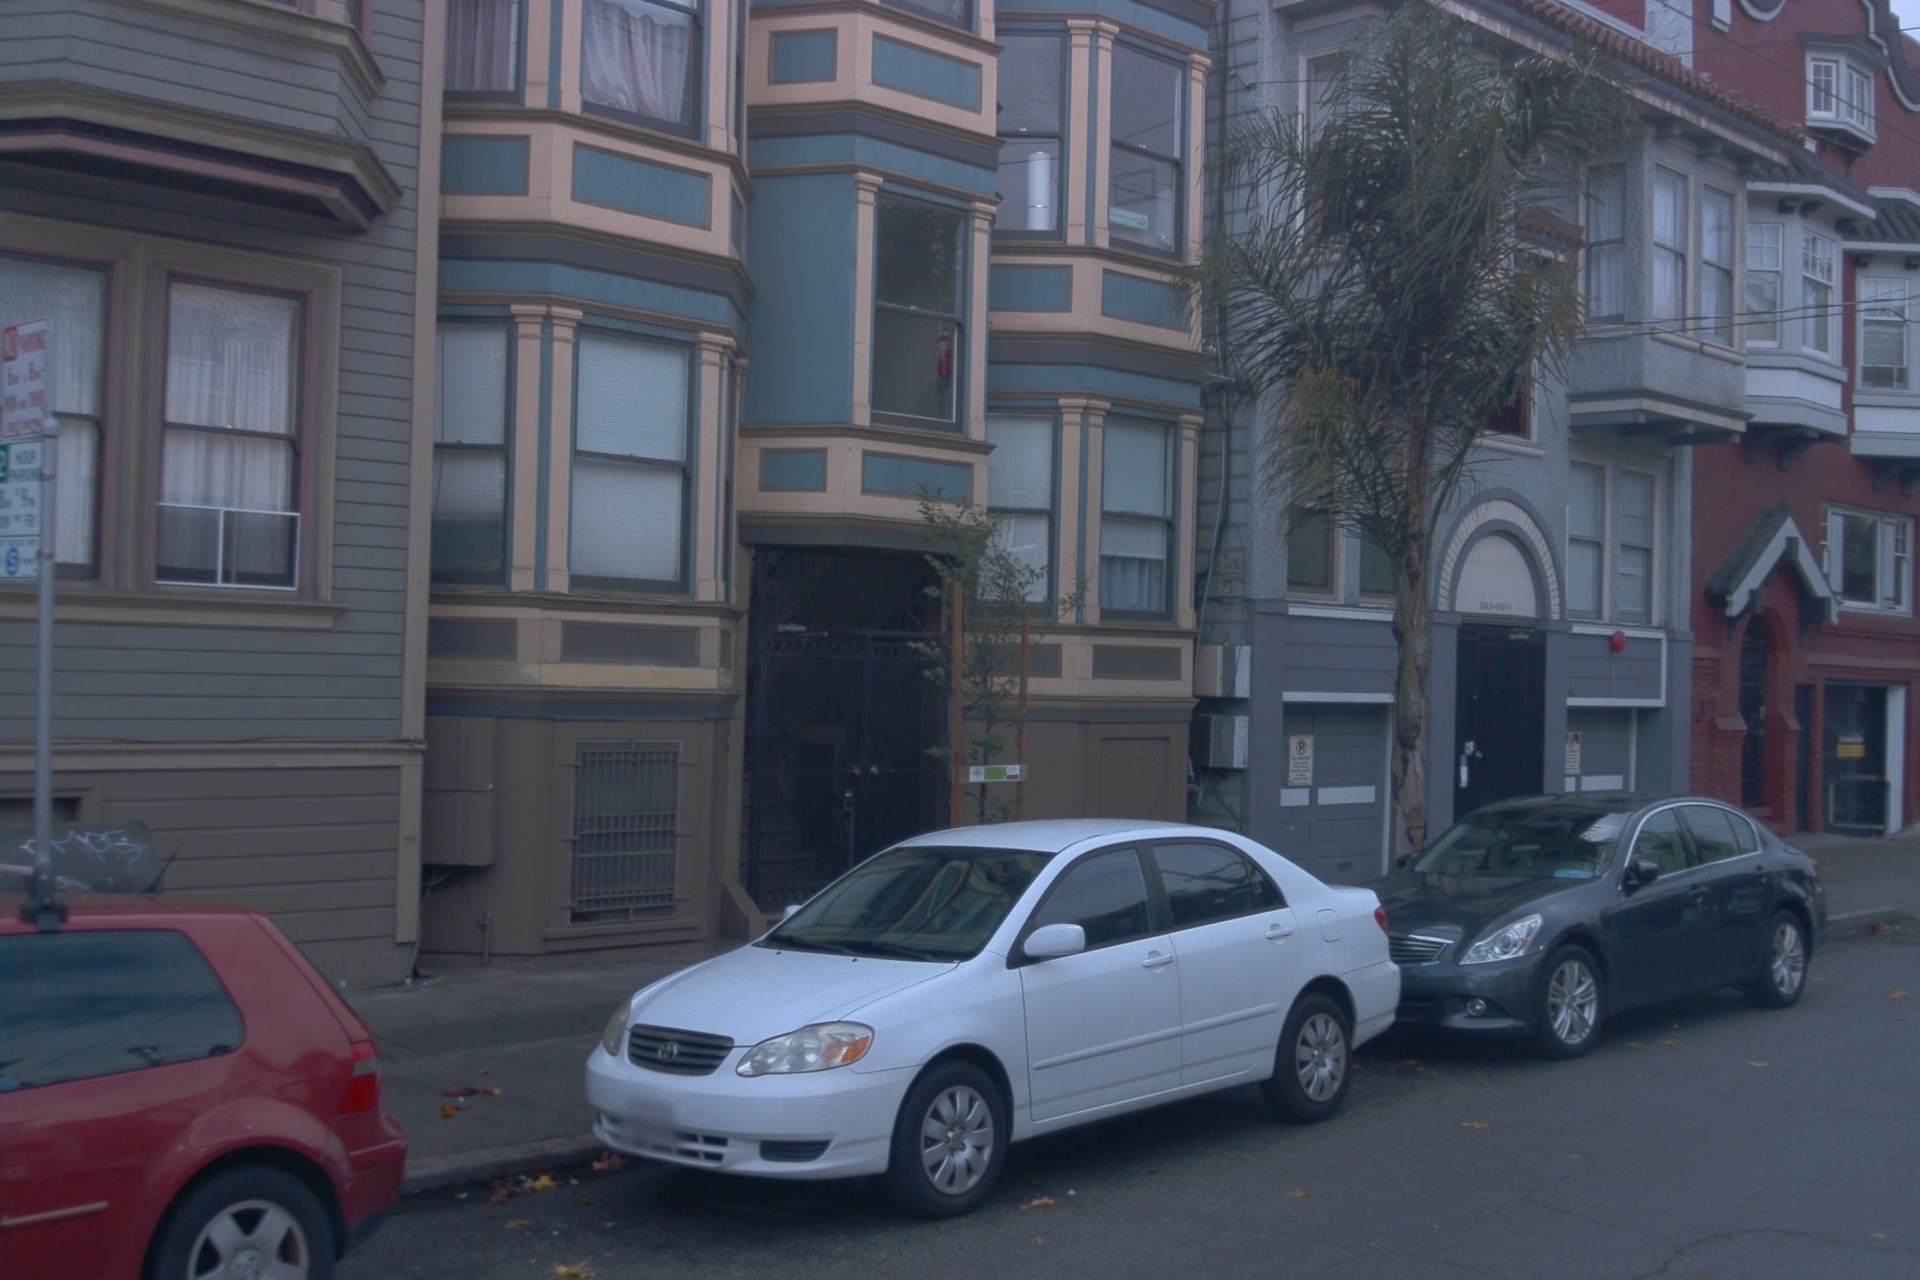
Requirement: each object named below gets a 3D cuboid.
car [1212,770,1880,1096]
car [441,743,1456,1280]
[{"bbox_3d":[3.946,1.706,13.426,4.772,1.520,2.072,2,-1,-45],"label":"car"},{"bbox_3d":[0.178,1.435,9.510,2.029,1.780,4.539,0,-1,44],"label":"car"}]
